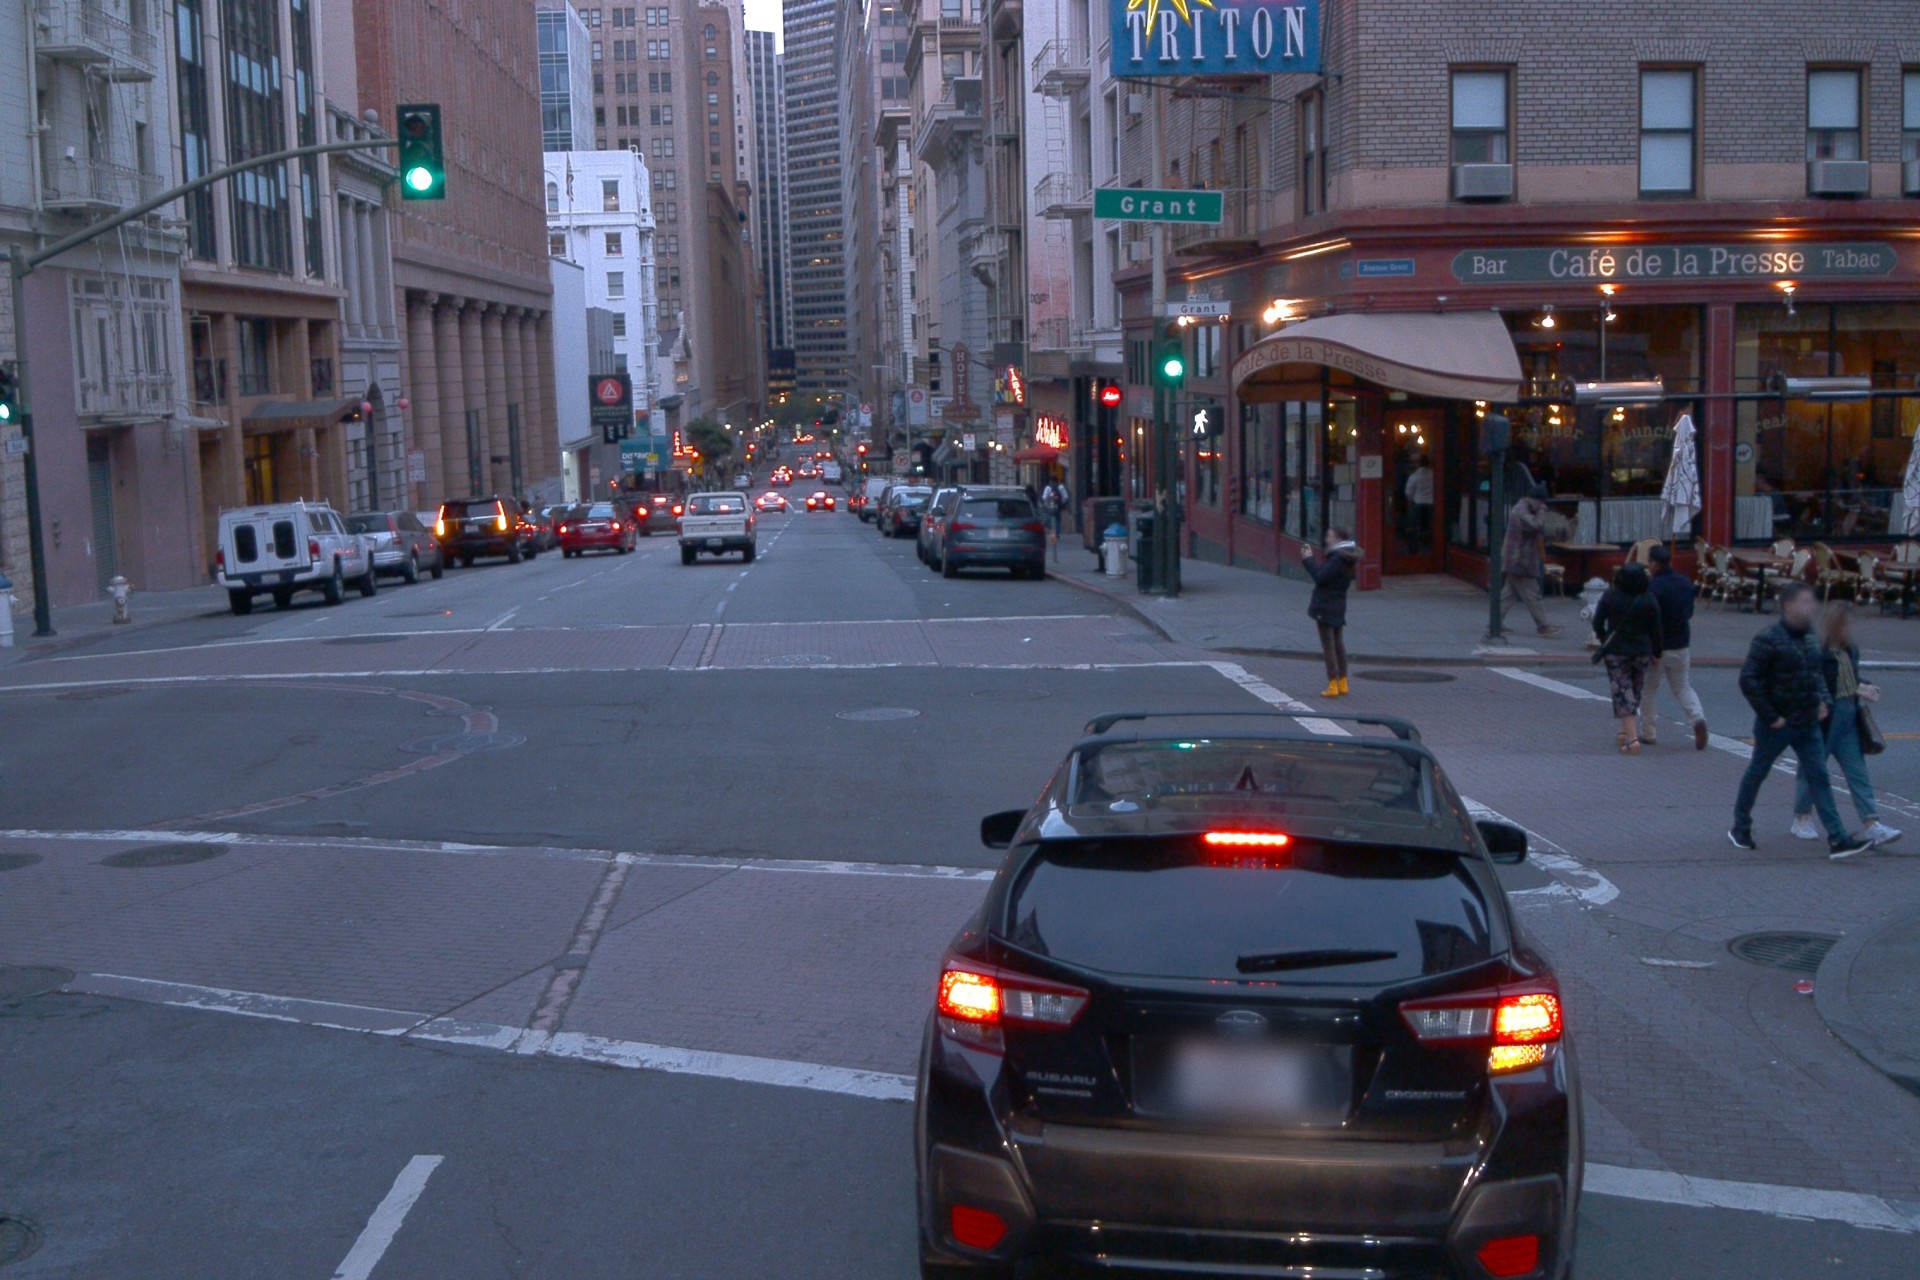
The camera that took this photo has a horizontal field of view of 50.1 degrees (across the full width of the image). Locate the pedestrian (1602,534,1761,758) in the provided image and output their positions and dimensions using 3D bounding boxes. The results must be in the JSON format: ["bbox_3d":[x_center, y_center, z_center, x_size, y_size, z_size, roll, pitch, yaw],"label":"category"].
[{"bbox_3d":[5.856,0.038,16.727,0.838,1.766,0.957,0,1,-11],"label":"pedestrian"}]

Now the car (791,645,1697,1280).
[{"bbox_3d":[0.976,1.015,7.084,2.137,1.920,4.408,0,1,9],"label":"car"}]

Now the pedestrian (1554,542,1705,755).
[{"bbox_3d":[5.368,0.058,16.536,0.765,1.656,0.959,0,1,-13],"label":"pedestrian"}]

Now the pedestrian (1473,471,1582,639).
[{"bbox_3d":[6.633,-0.973,24.075,1.111,1.906,1.190,0,1,10],"label":"pedestrian"}]

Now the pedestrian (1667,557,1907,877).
[{"bbox_3d":[5.026,0.440,12.541,0.840,1.851,1.067,-1,1,-23],"label":"pedestrian"}]

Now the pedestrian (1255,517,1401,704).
[{"bbox_3d":[3.568,-0.285,19.946,0.901,1.756,1.068,-1,1,-44],"label":"pedestrian"}]
